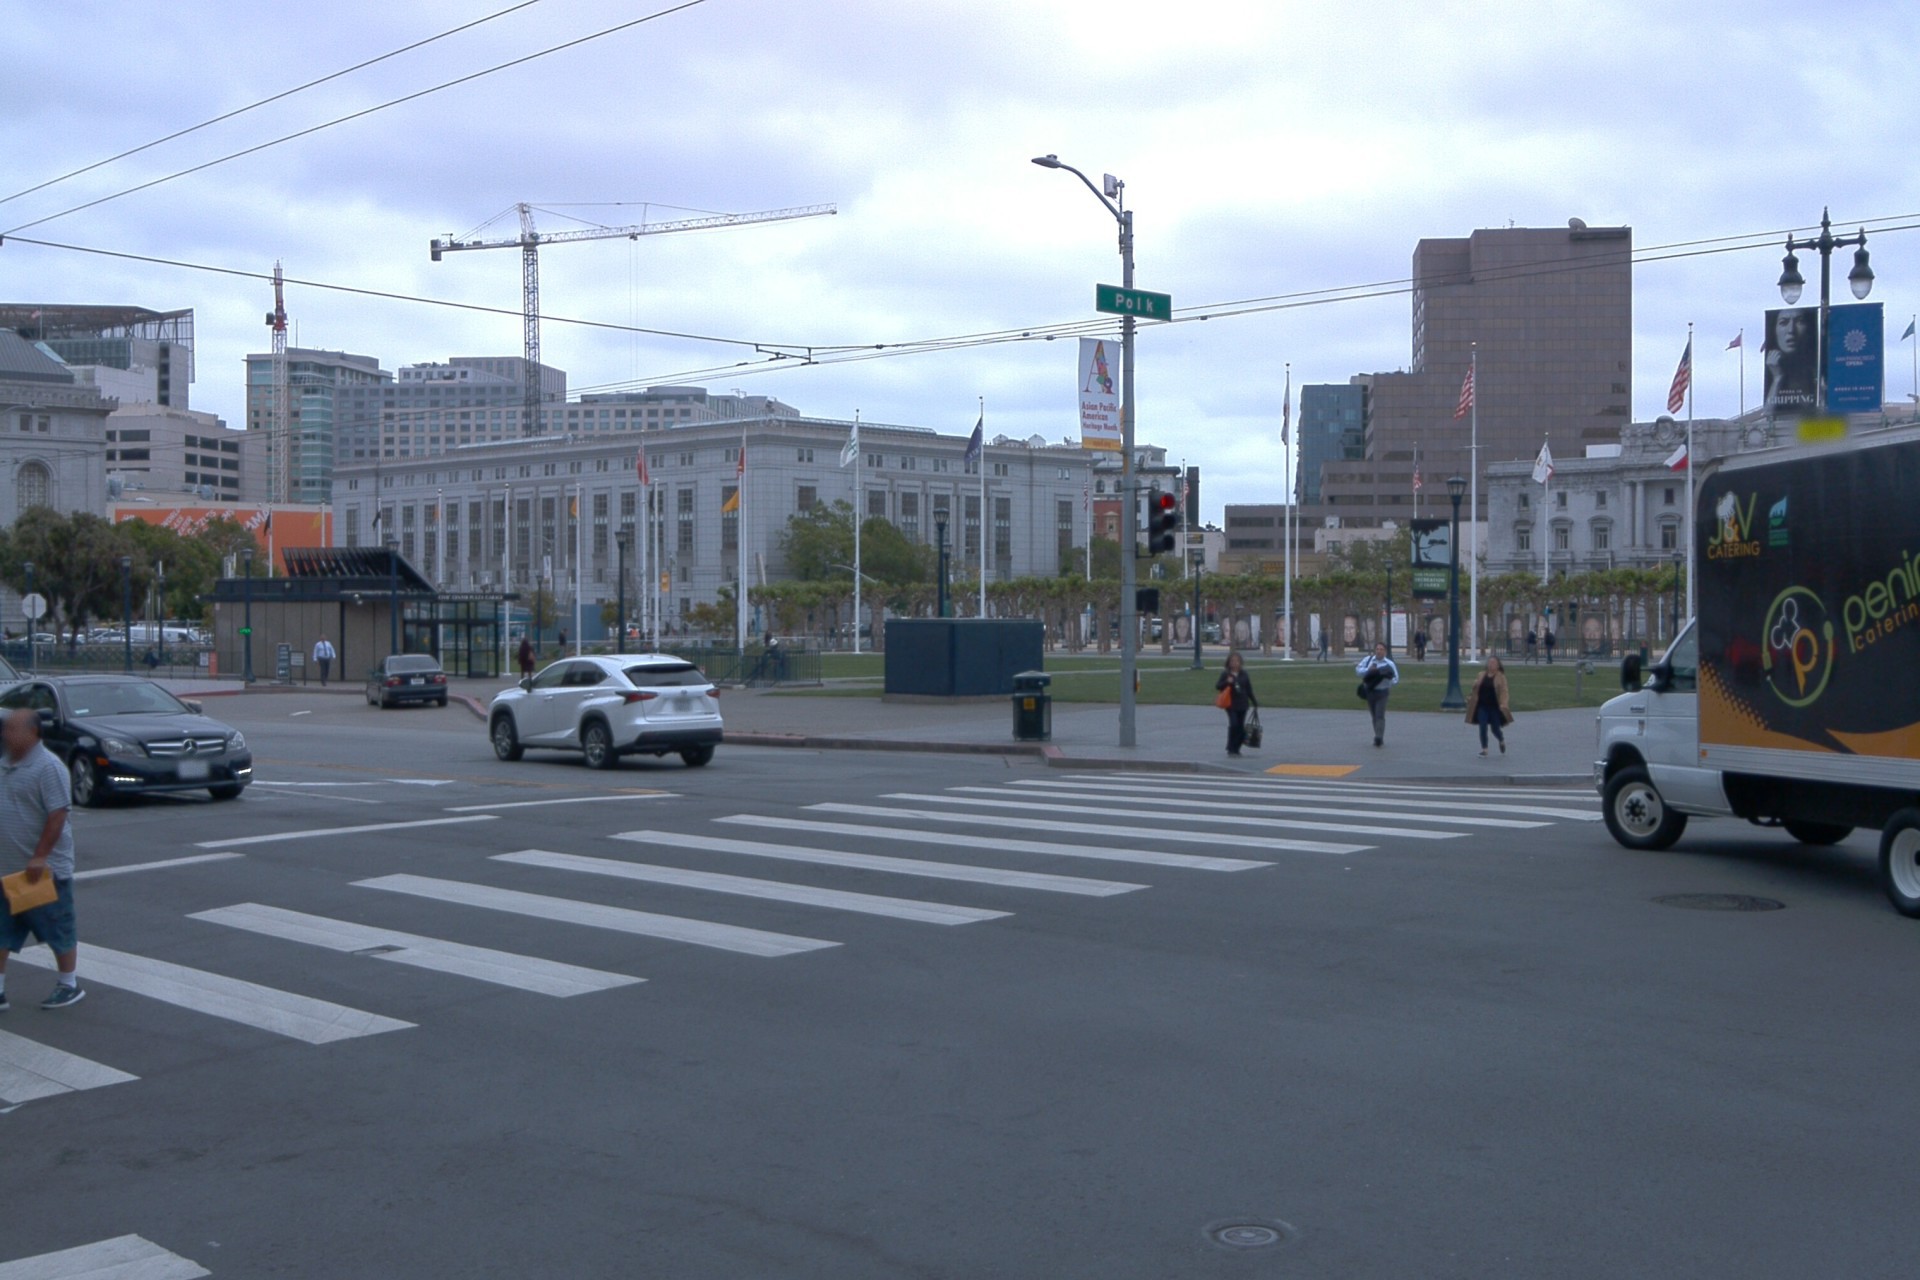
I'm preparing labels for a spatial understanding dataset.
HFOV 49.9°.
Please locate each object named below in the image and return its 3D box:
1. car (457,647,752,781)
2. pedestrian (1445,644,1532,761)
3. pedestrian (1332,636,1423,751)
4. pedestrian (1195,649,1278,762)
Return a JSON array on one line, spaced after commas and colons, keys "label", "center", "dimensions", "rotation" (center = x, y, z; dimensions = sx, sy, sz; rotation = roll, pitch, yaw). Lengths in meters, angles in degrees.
[{"label": "car", "center": [-5.277, 1.009, 30.209], "dimensions": [2.195, 1.692, 4.574], "rotation": [-1, 1, -41]}, {"label": "pedestrian", "center": [7.775, 0.904, 30.353], "dimensions": [0.944, 1.654, 1.016], "rotation": [1, 1, 35]}, {"label": "pedestrian", "center": [6.655, 0.825, 32.888], "dimensions": [1.055, 1.764, 1.153], "rotation": [1, 1, 34]}, {"label": "pedestrian", "center": [4.164, 0.971, 31.168], "dimensions": [1.021, 1.654, 1.012], "rotation": [0, 1, -7]}]
